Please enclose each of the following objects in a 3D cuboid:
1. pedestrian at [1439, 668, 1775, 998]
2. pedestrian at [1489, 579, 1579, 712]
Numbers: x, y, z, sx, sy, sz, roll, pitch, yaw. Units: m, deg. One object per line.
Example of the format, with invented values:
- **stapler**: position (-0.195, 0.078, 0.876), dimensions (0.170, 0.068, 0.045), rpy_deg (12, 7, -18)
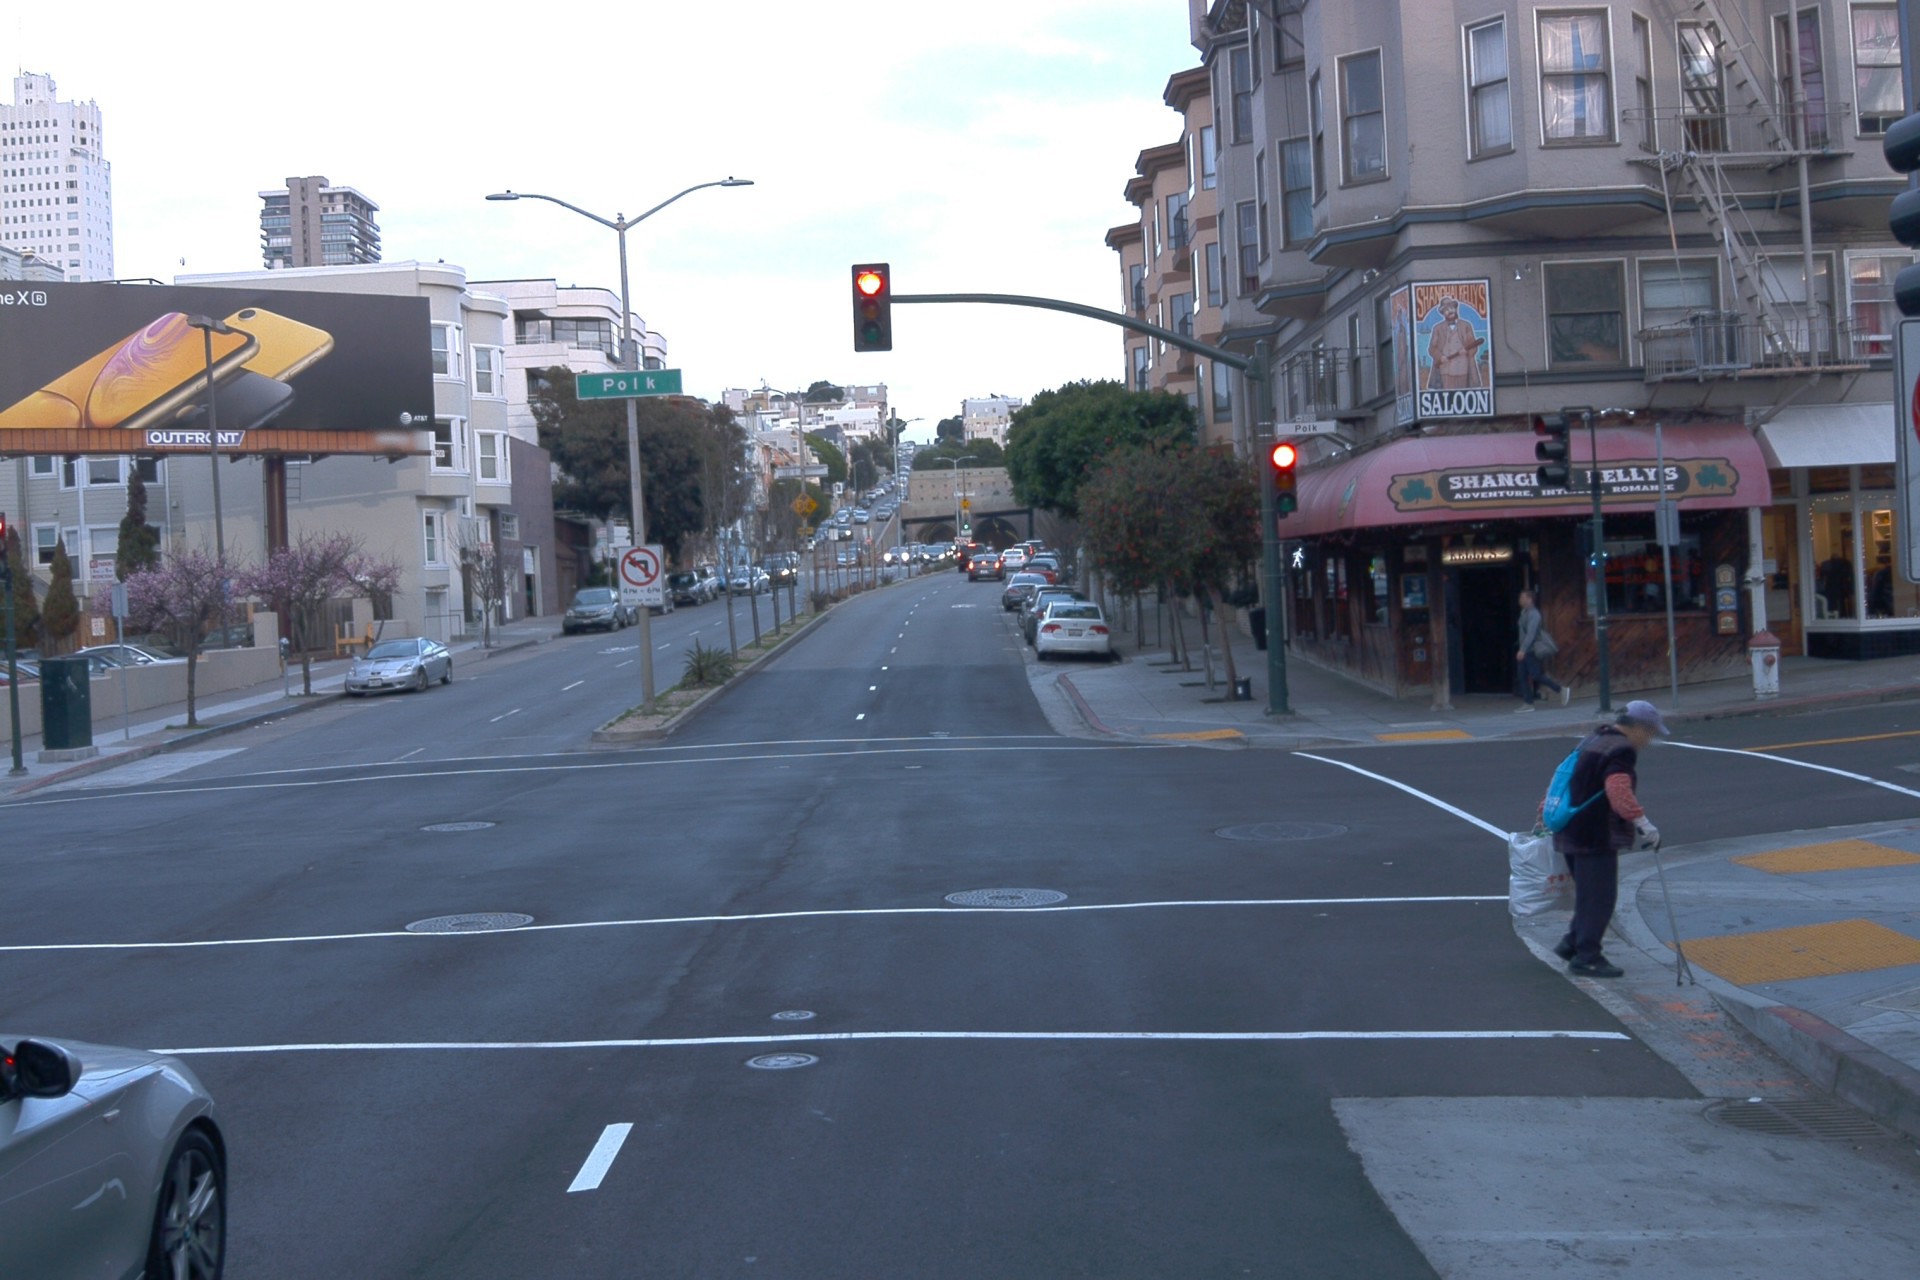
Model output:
- **pedestrian**: position (3.453, 0.990, 11.173), dimensions (1.395, 1.630, 1.349), rpy_deg (1, 1, 1)
- **pedestrian**: position (8.350, 0.074, 30.011), dimensions (1.051, 1.890, 0.923), rpy_deg (1, 0, 2)
